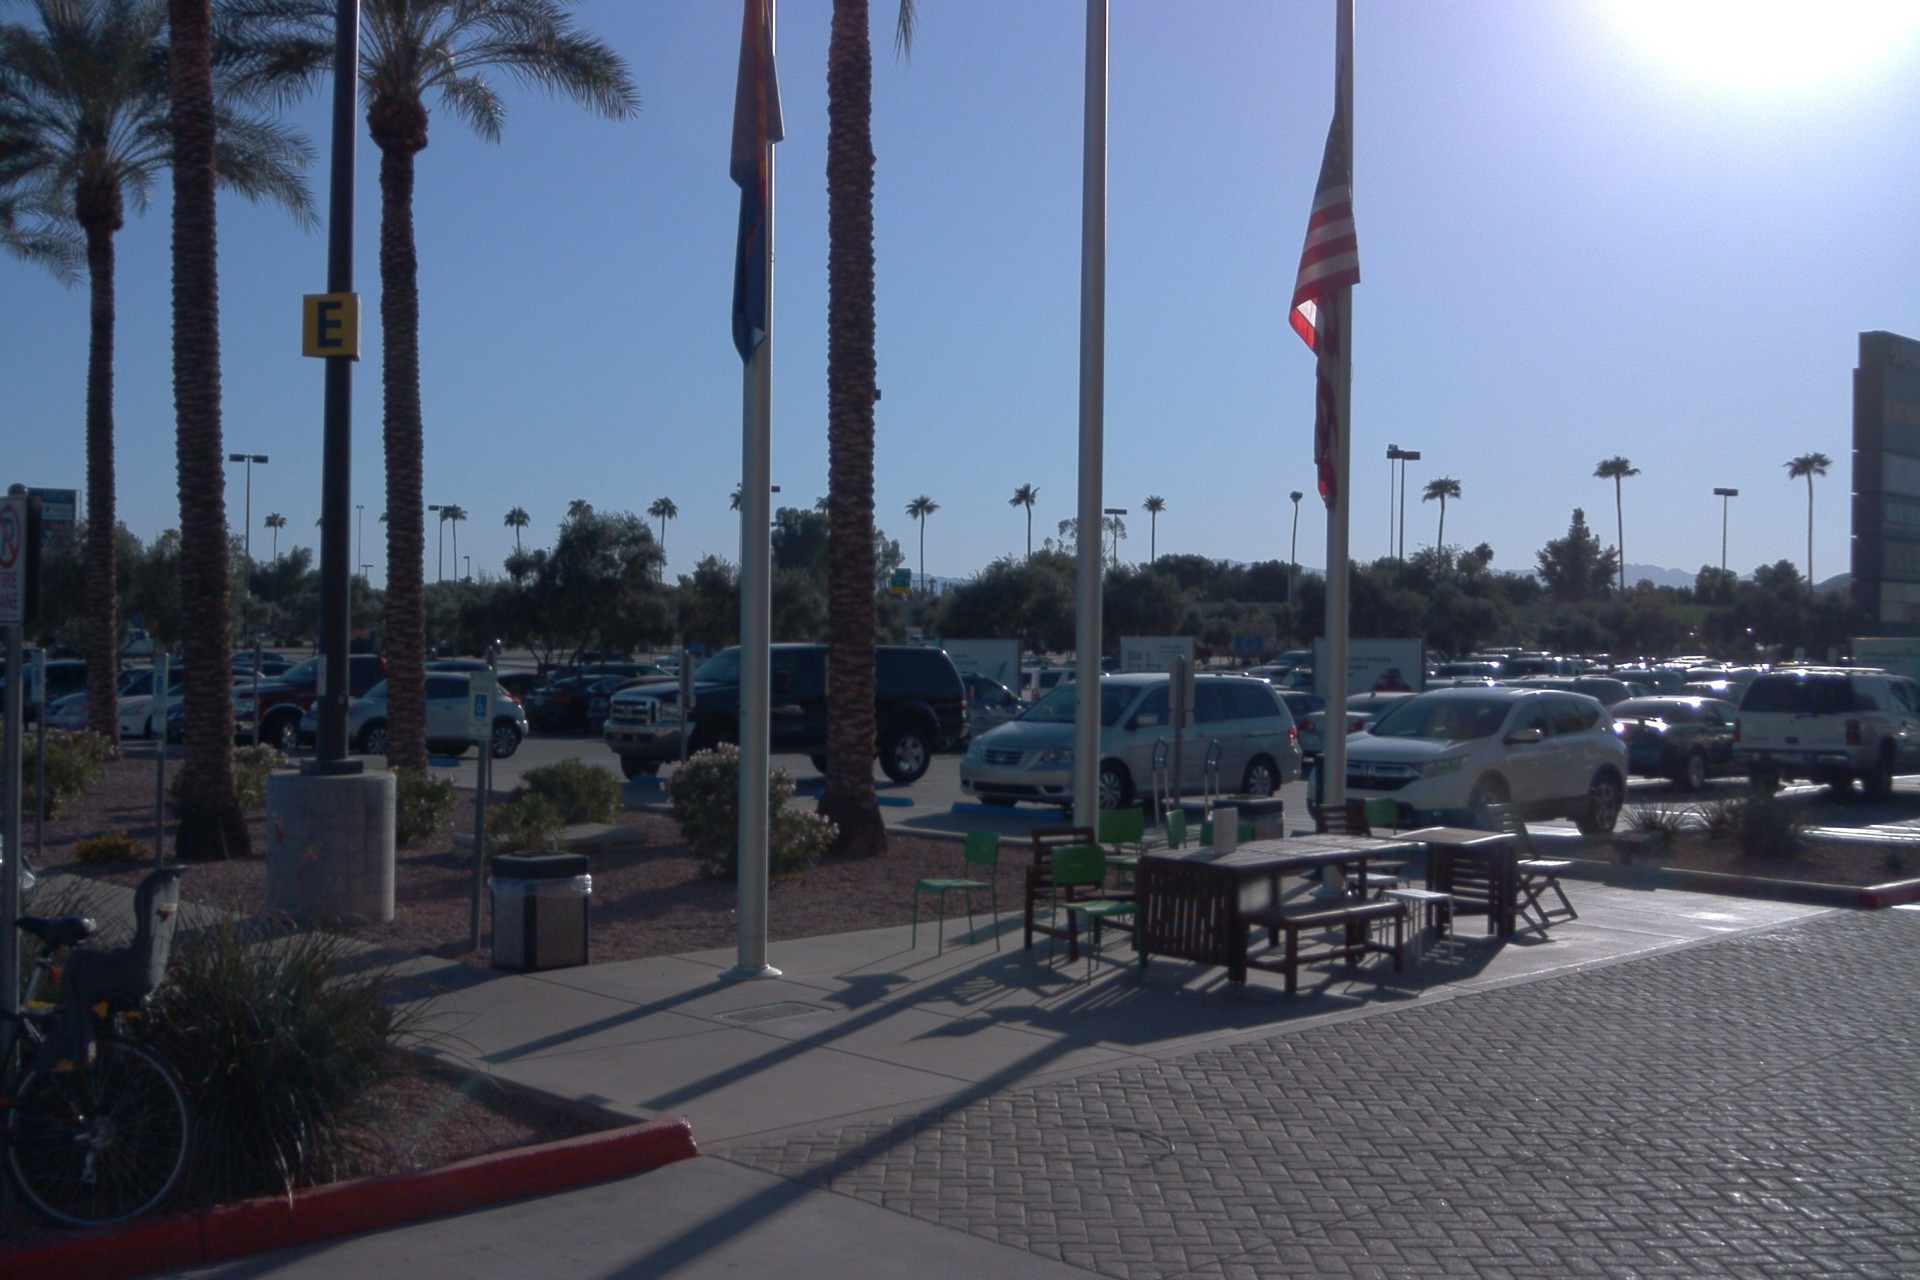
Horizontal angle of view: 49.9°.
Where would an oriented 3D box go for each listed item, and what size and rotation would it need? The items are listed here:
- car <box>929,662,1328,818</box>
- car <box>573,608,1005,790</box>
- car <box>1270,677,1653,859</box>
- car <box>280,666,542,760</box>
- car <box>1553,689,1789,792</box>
[{"bbox_3d":[2.275,1.182,26.478,2.246,1.780,5.286,0,0,44],"label":"car"},{"bbox_3d":[-2.477,0.826,31.312,6.160,2.490,2.672,1,0,-43],"label":"car"},{"bbox_3d":[5.556,1.283,22.504,2.159,1.710,4.564,0,0,41],"label":"car"},{"bbox_3d":[-9.805,1.263,37.057,1.967,1.550,4.106,0,0,44],"label":"car"},{"bbox_3d":[11.610,1.578,33.570,4.346,1.490,1.909,1,0,-45],"label":"car"}]
